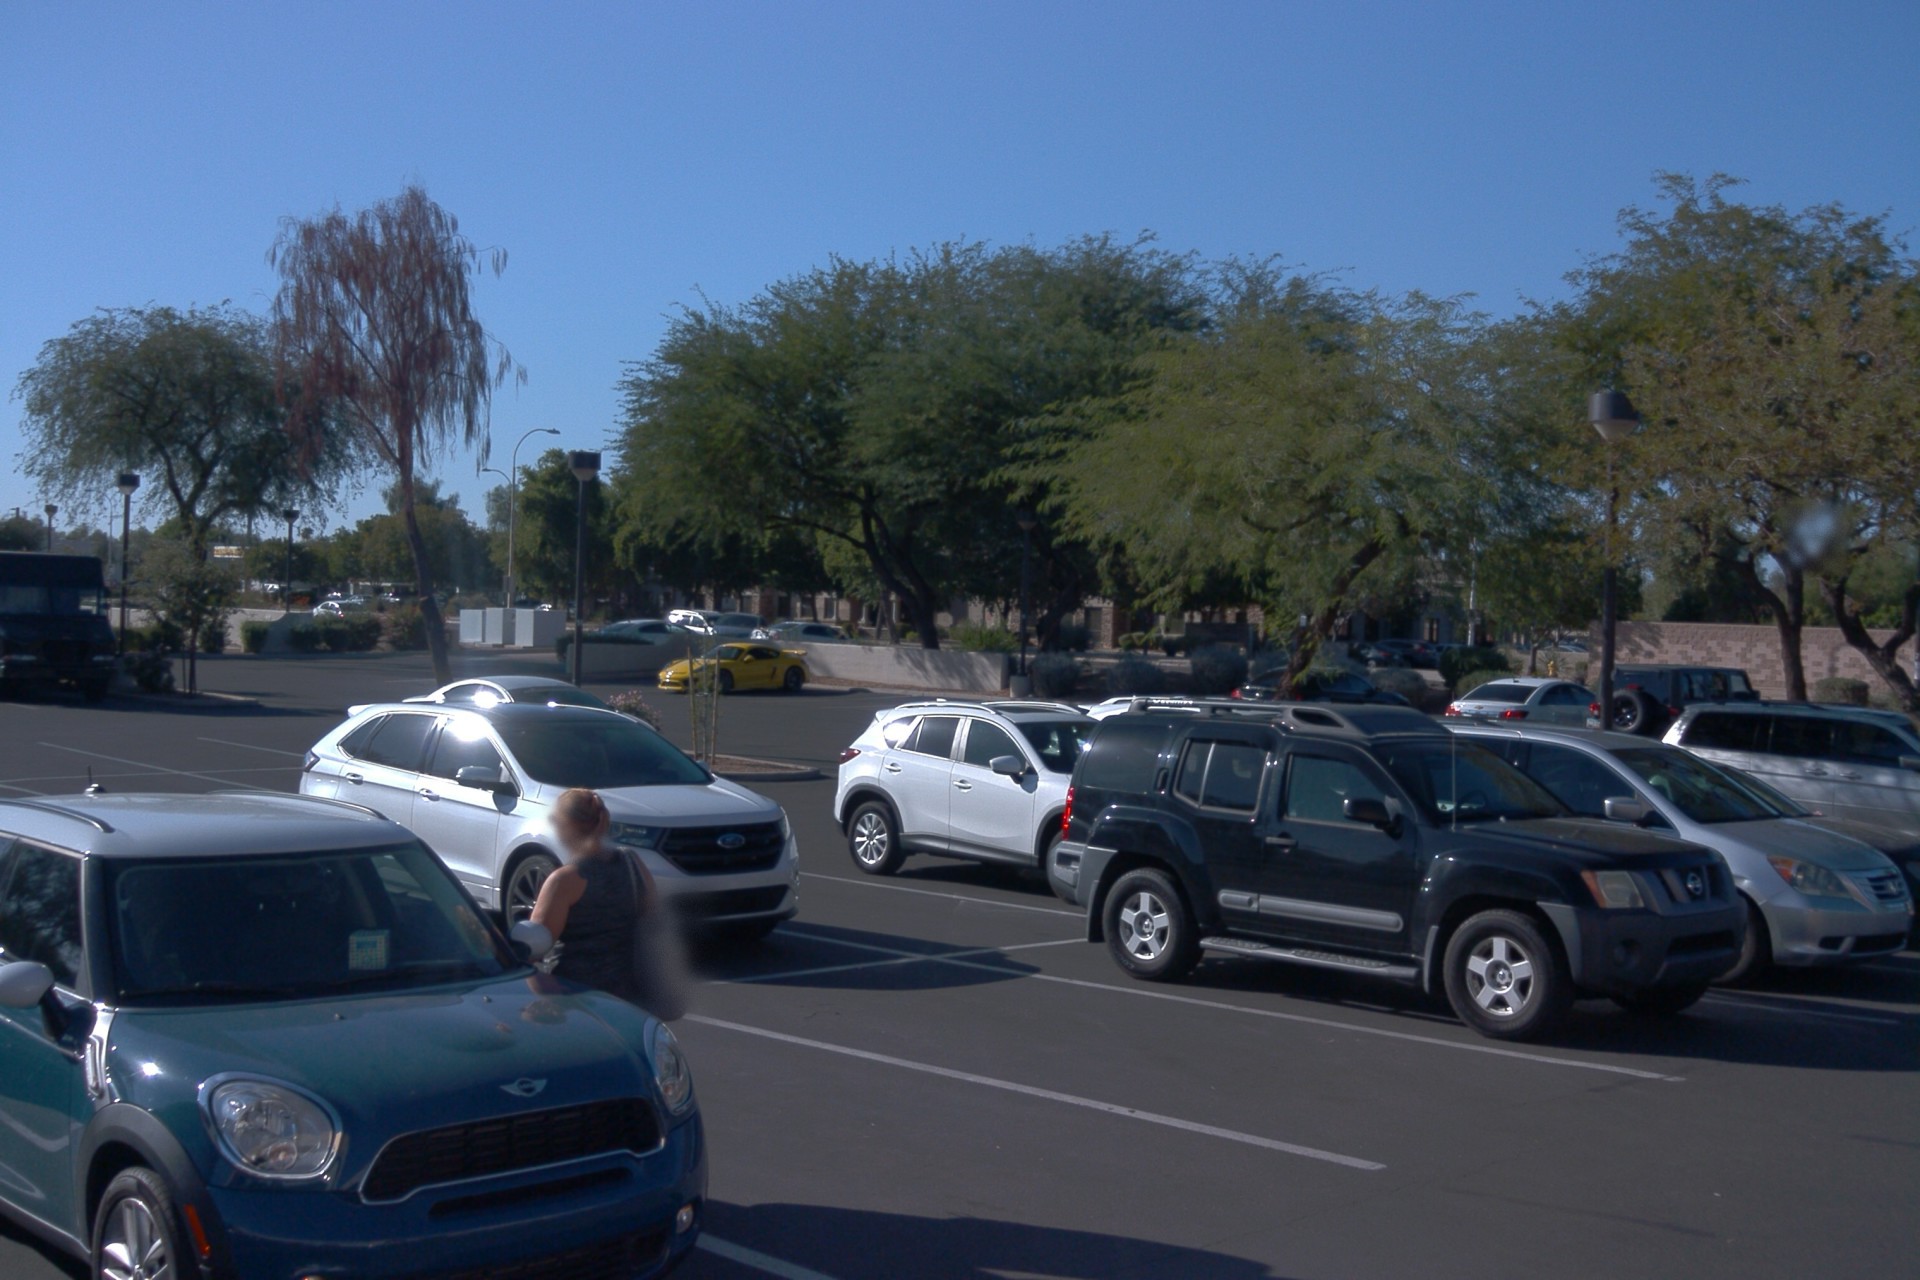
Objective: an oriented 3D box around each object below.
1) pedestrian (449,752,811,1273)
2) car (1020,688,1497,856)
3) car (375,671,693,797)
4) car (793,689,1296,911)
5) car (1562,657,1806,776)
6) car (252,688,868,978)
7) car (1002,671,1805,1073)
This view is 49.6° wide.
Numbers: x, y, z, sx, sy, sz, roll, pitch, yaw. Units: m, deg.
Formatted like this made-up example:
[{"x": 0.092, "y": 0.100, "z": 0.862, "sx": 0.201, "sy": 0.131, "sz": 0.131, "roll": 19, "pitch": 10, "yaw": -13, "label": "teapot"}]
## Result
[{"x": -1.245, "y": 1.336, "z": 7.907, "sx": 0.959, "sy": 1.750, "sz": 0.930, "roll": 1, "pitch": 0, "yaw": 32, "label": "pedestrian"}, {"x": 3.040, "y": 1.295, "z": 21.873, "sx": 2.057, "sy": 1.460, "sz": 4.663, "roll": 1, "pitch": 0, "yaw": -45, "label": "car"}, {"x": -6.331, "y": 1.303, "z": 30.456, "sx": 5.046, "sy": 1.600, "sz": 2.114, "roll": 1, "pitch": 0, "yaw": 45, "label": "car"}, {"x": 0.699, "y": 1.381, "z": 19.561, "sx": 2.160, "sy": 1.720, "sz": 4.434, "roll": 1, "pitch": 0, "yaw": -45, "label": "car"}, {"x": 12.710, "y": 1.284, "z": 36.299, "sx": 4.751, "sy": 1.910, "sz": 2.026, "roll": 1, "pitch": 0, "yaw": -43, "label": "car"}, {"x": -3.130, "y": 1.279, "z": 15.617, "sx": 4.659, "sy": 1.720, "sz": 2.253, "roll": 1, "pitch": 0, "yaw": 44, "label": "car"}, {"x": 2.688, "y": 1.267, "z": 13.462, "sx": 2.178, "sy": 2.050, "sz": 4.676, "roll": 1, "pitch": 0, "yaw": -43, "label": "car"}]
